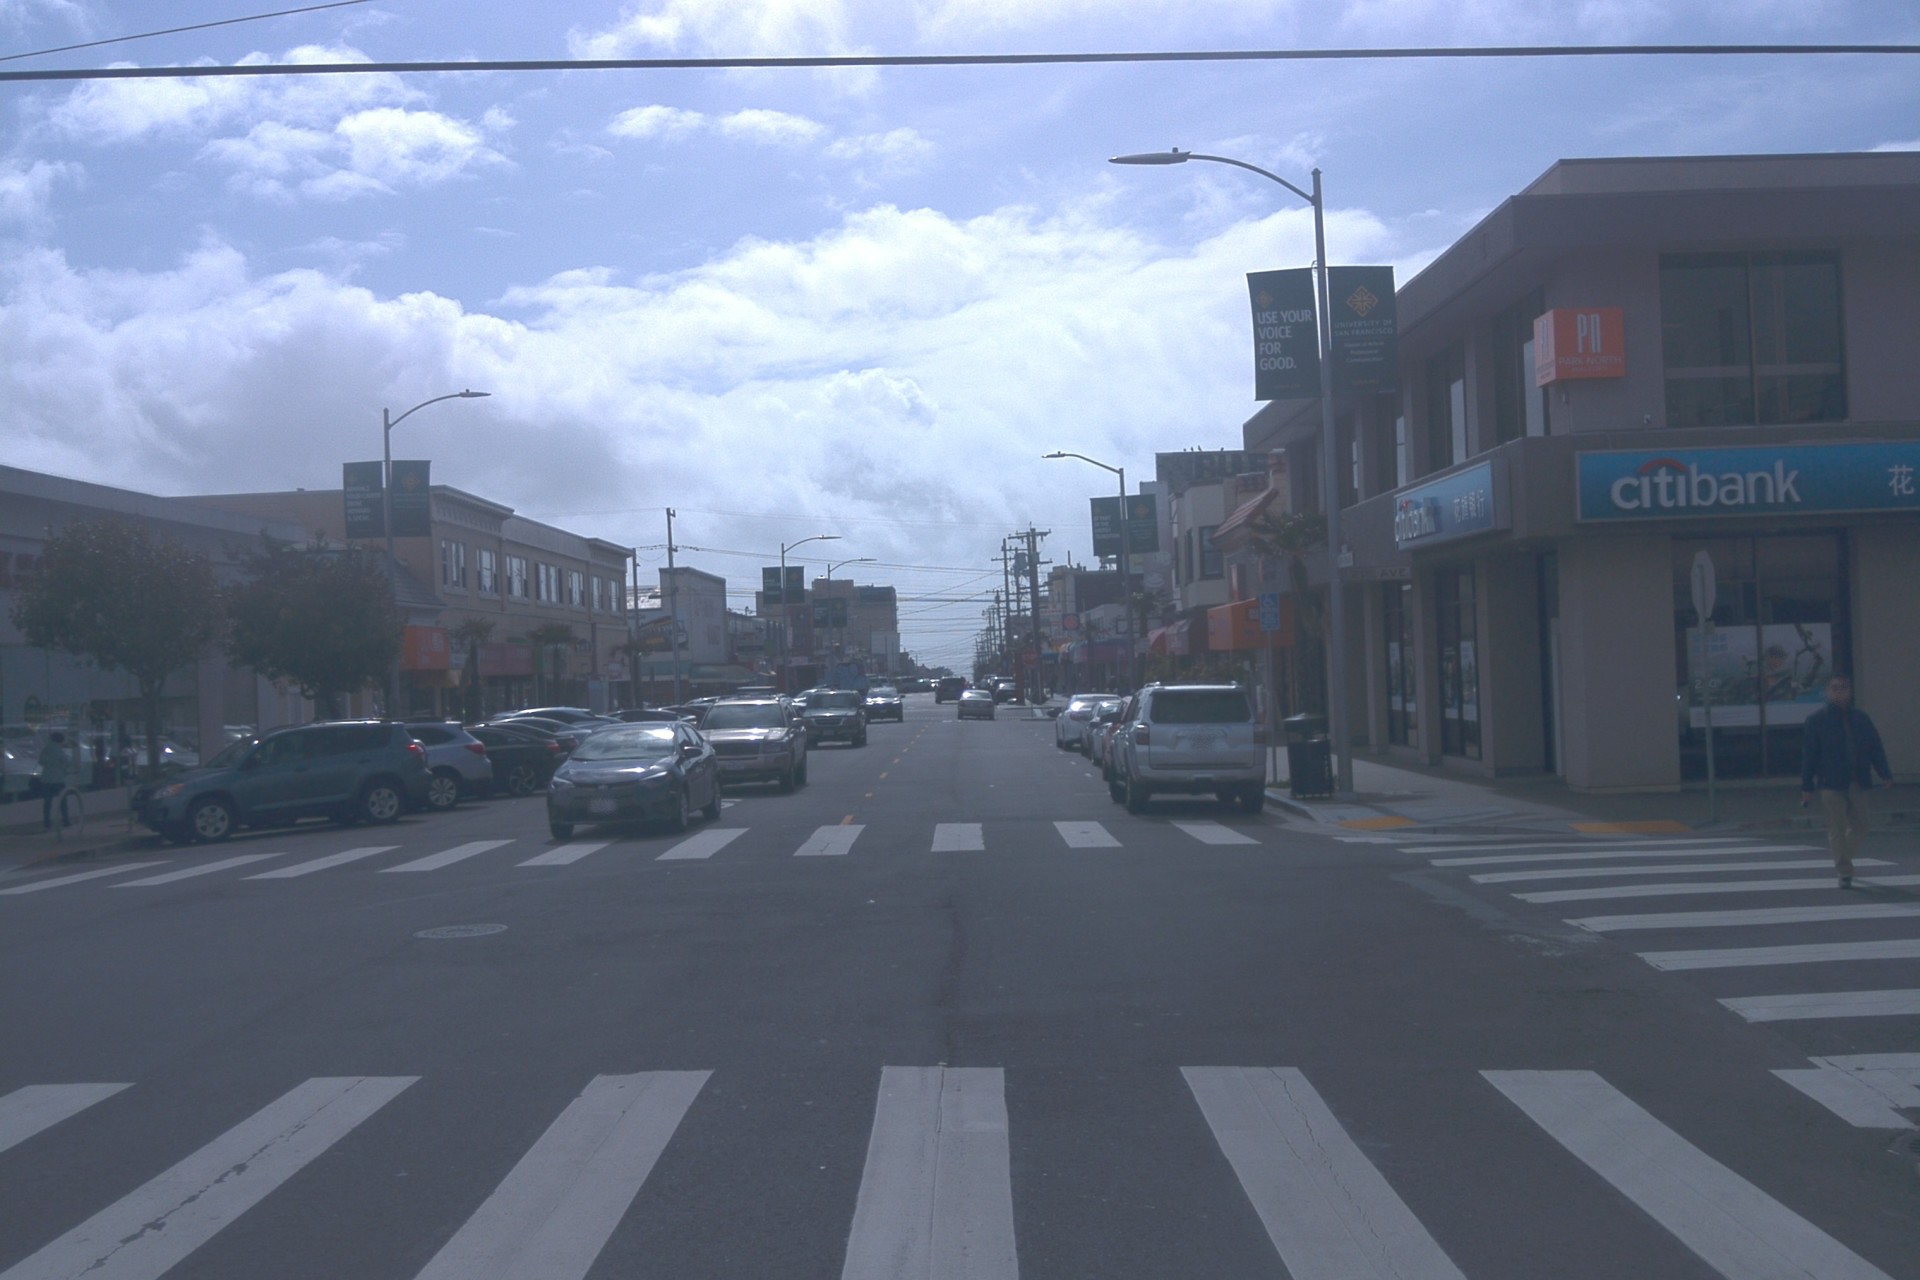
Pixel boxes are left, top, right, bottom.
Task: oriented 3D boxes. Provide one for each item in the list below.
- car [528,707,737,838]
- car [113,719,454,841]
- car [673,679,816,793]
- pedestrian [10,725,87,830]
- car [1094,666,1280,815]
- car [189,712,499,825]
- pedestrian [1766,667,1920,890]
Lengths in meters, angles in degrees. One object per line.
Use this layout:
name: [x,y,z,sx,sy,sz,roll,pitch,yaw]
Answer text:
car: [-4.362,1.737,28.334,2.013,1.553,4.581,0,-1,1]
car: [-10.600,2.135,32.612,4.689,1.670,2.069,0,-1,-36]
car: [-3.815,1.672,37.433,2.132,1.910,4.452,0,-1,0]
pedestrian: [-14.669,2.206,33.373,0.791,1.643,0.931,0,-1,4]
car: [3.184,1.373,30.042,2.072,1.977,4.682,0,-1,-1]
car: [-10.568,2.149,35.725,4.689,1.720,2.069,0,-1,-37]
pedestrian: [7.055,1.086,16.609,0.849,1.734,0.949,0,-1,3]
